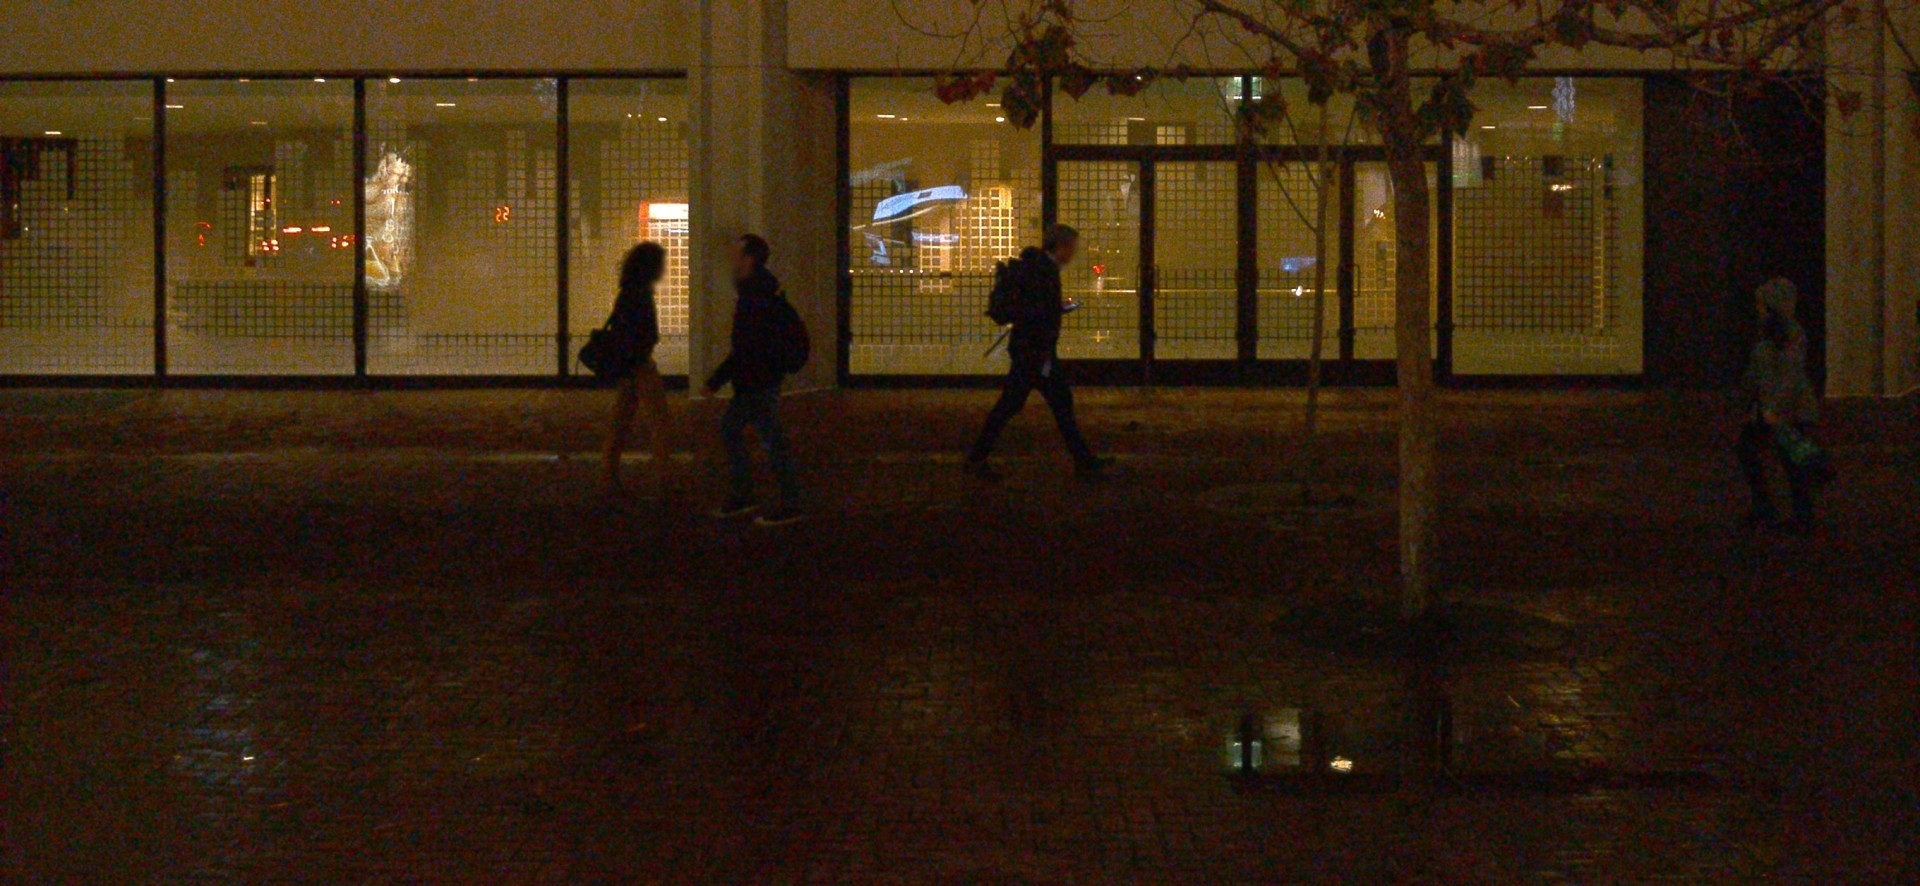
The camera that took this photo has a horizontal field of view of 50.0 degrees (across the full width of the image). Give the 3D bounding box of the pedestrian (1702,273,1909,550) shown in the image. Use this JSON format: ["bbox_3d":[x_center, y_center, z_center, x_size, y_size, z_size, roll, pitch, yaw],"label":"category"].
[{"bbox_3d":[5.033,-0.219,12.313,0.868,1.581,0.942,0,1,2],"label":"pedestrian"}]

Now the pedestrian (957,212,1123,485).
[{"bbox_3d":[0.543,-0.675,14.273,1.111,1.831,0.844,0,1,1],"label":"pedestrian"}]

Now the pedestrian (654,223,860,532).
[{"bbox_3d":[-1.242,-0.430,12.764,1.141,1.851,0.760,0,0,6],"label":"pedestrian"}]

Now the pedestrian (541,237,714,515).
[{"bbox_3d":[-2.178,-0.463,13.586,1.048,1.781,0.731,0,0,-3],"label":"pedestrian"}]
